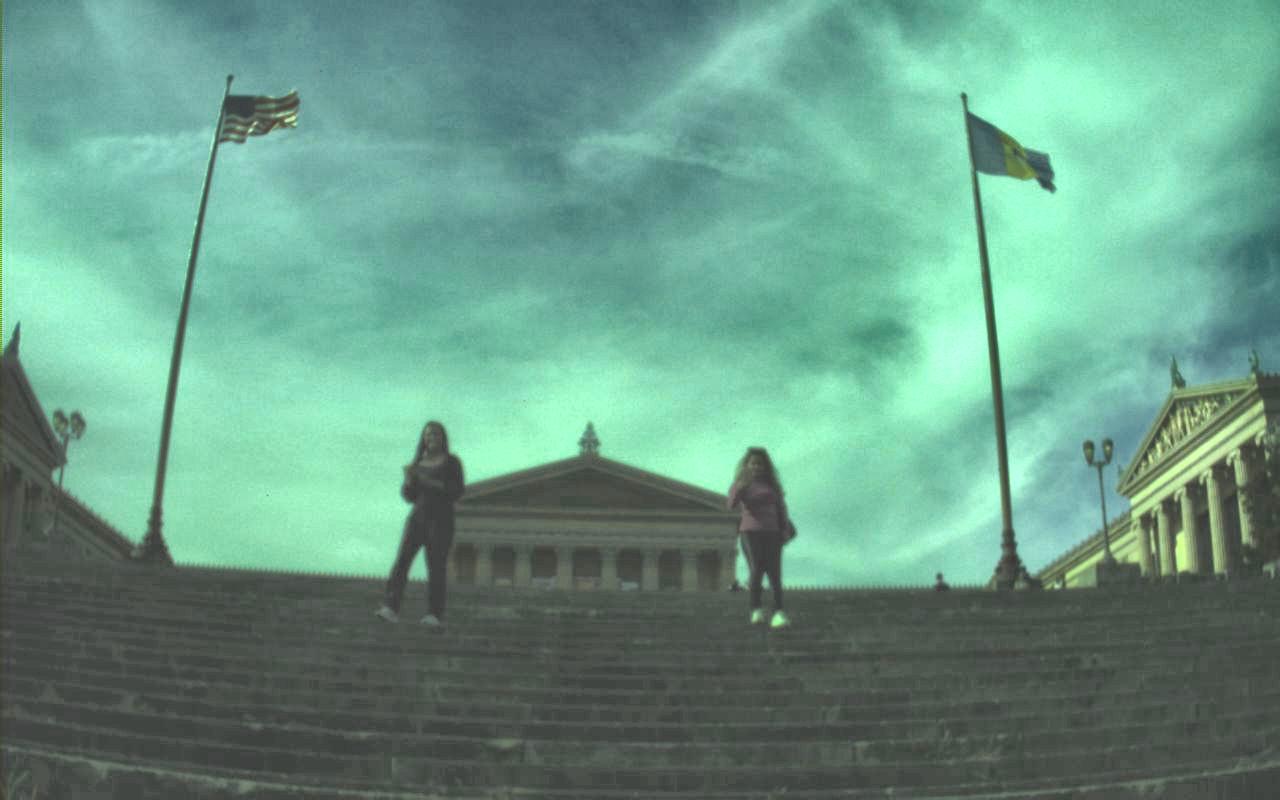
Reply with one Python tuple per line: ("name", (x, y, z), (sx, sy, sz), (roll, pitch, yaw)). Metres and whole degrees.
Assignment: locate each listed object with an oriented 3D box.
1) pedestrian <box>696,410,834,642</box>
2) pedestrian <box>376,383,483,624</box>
("pedestrian", (0.998, 0.978, 10.066), (0.765, 1.754, 0.800), (0, 0, -31))
("pedestrian", (-1.644, 0.794, 9.768), (0.771, 1.825, 0.779), (0, 0, -4))
